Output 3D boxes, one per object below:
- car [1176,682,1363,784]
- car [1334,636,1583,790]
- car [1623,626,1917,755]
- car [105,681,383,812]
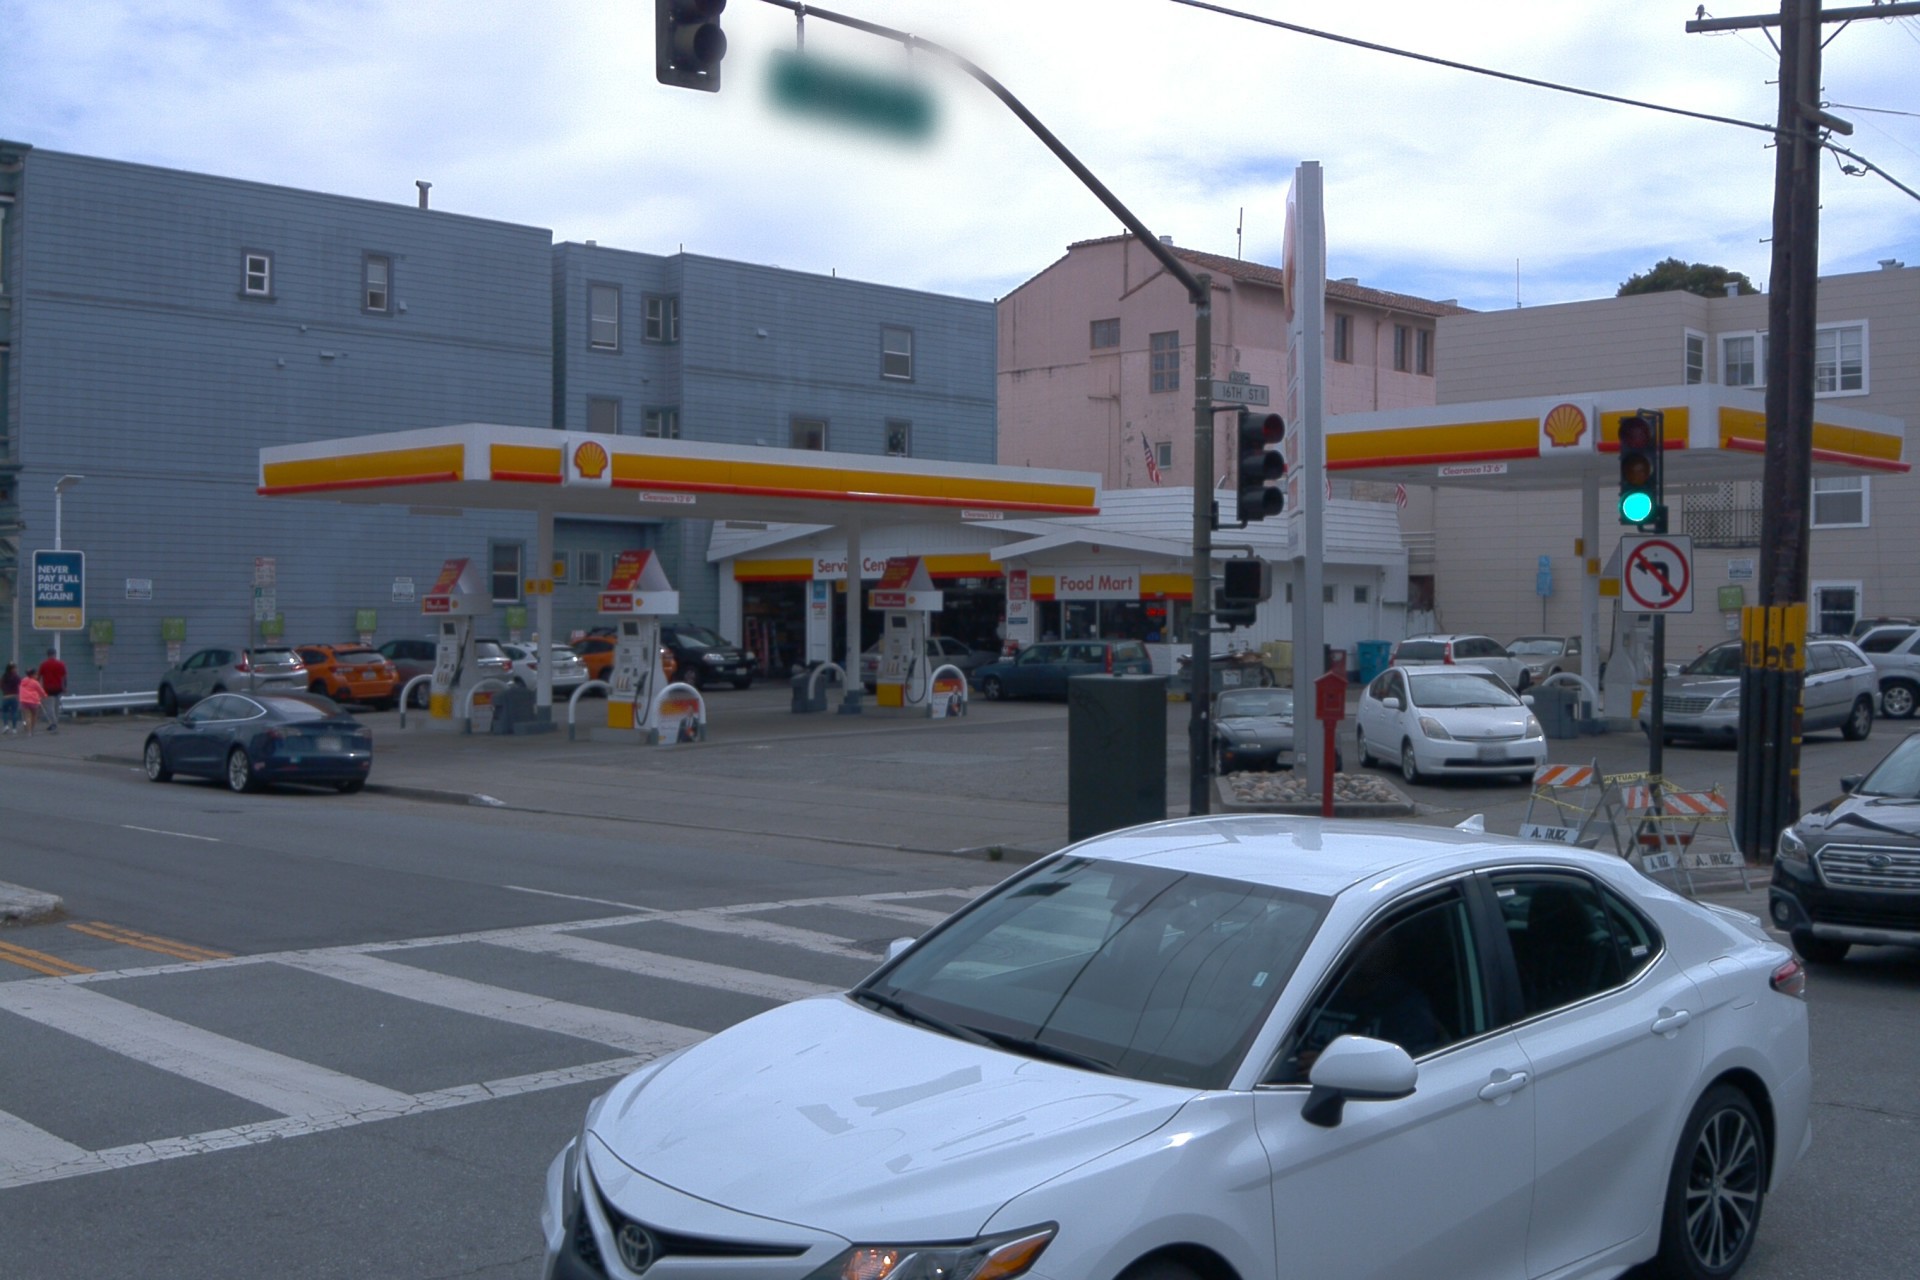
[{"bbox_3d":[4.075,1.204,27.711,1.838,1.140,3.679,0,1,-2],"label":"car"},{"bbox_3d":[6.536,0.896,27.612,2.104,1.810,4.502,0,1,-2],"label":"car"},{"bbox_3d":[12.612,0.705,31.978,5.073,1.780,2.142,-1,1,-41],"label":"car"},{"bbox_3d":[-10.361,1.463,29.709,2.020,1.560,4.485,-1,1,-45],"label":"car"}]
